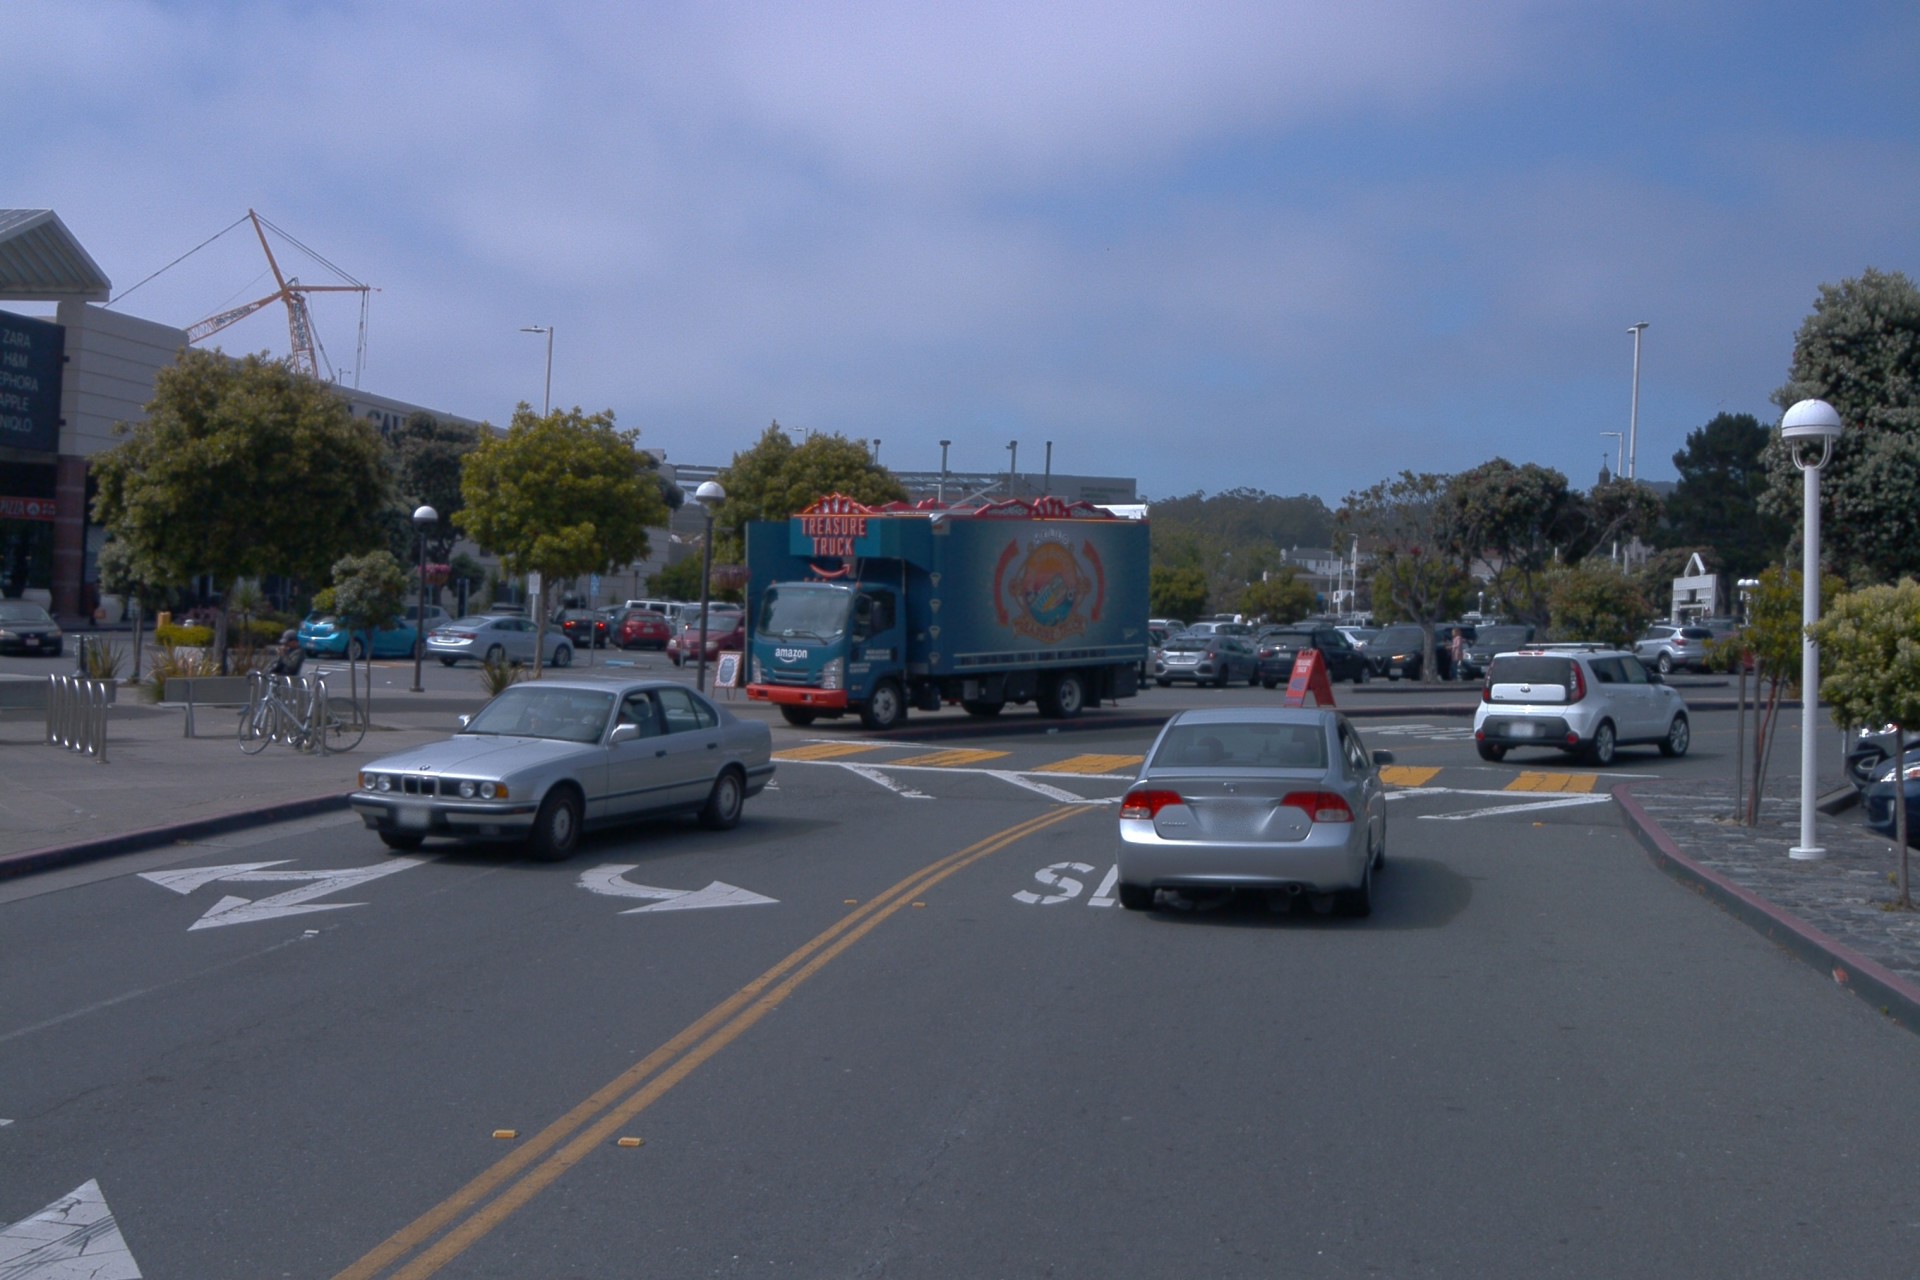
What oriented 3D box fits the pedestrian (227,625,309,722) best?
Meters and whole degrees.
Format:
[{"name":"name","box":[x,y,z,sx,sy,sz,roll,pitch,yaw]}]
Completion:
[{"name":"pedestrian","box":[-10.387,0.489,30.856,0.984,1.410,0.711,-1,1,-38]}]

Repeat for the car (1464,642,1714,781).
[{"name":"car","box":[9.017,0.946,29.304,1.880,1.780,4.025,0,1,42]}]

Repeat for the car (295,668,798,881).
[{"name":"car","box":[-3.423,1.049,18.064,2.031,1.470,4.681,0,1,23]}]

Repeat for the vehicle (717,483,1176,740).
[{"name":"vehicle","box":[0.013,-0.463,33.327,2.930,3.680,7.925,0,1,41]}]

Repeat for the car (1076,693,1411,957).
[{"name":"car","box":[2.301,1.255,15.611,2.052,1.520,4.330,0,1,14]}]
